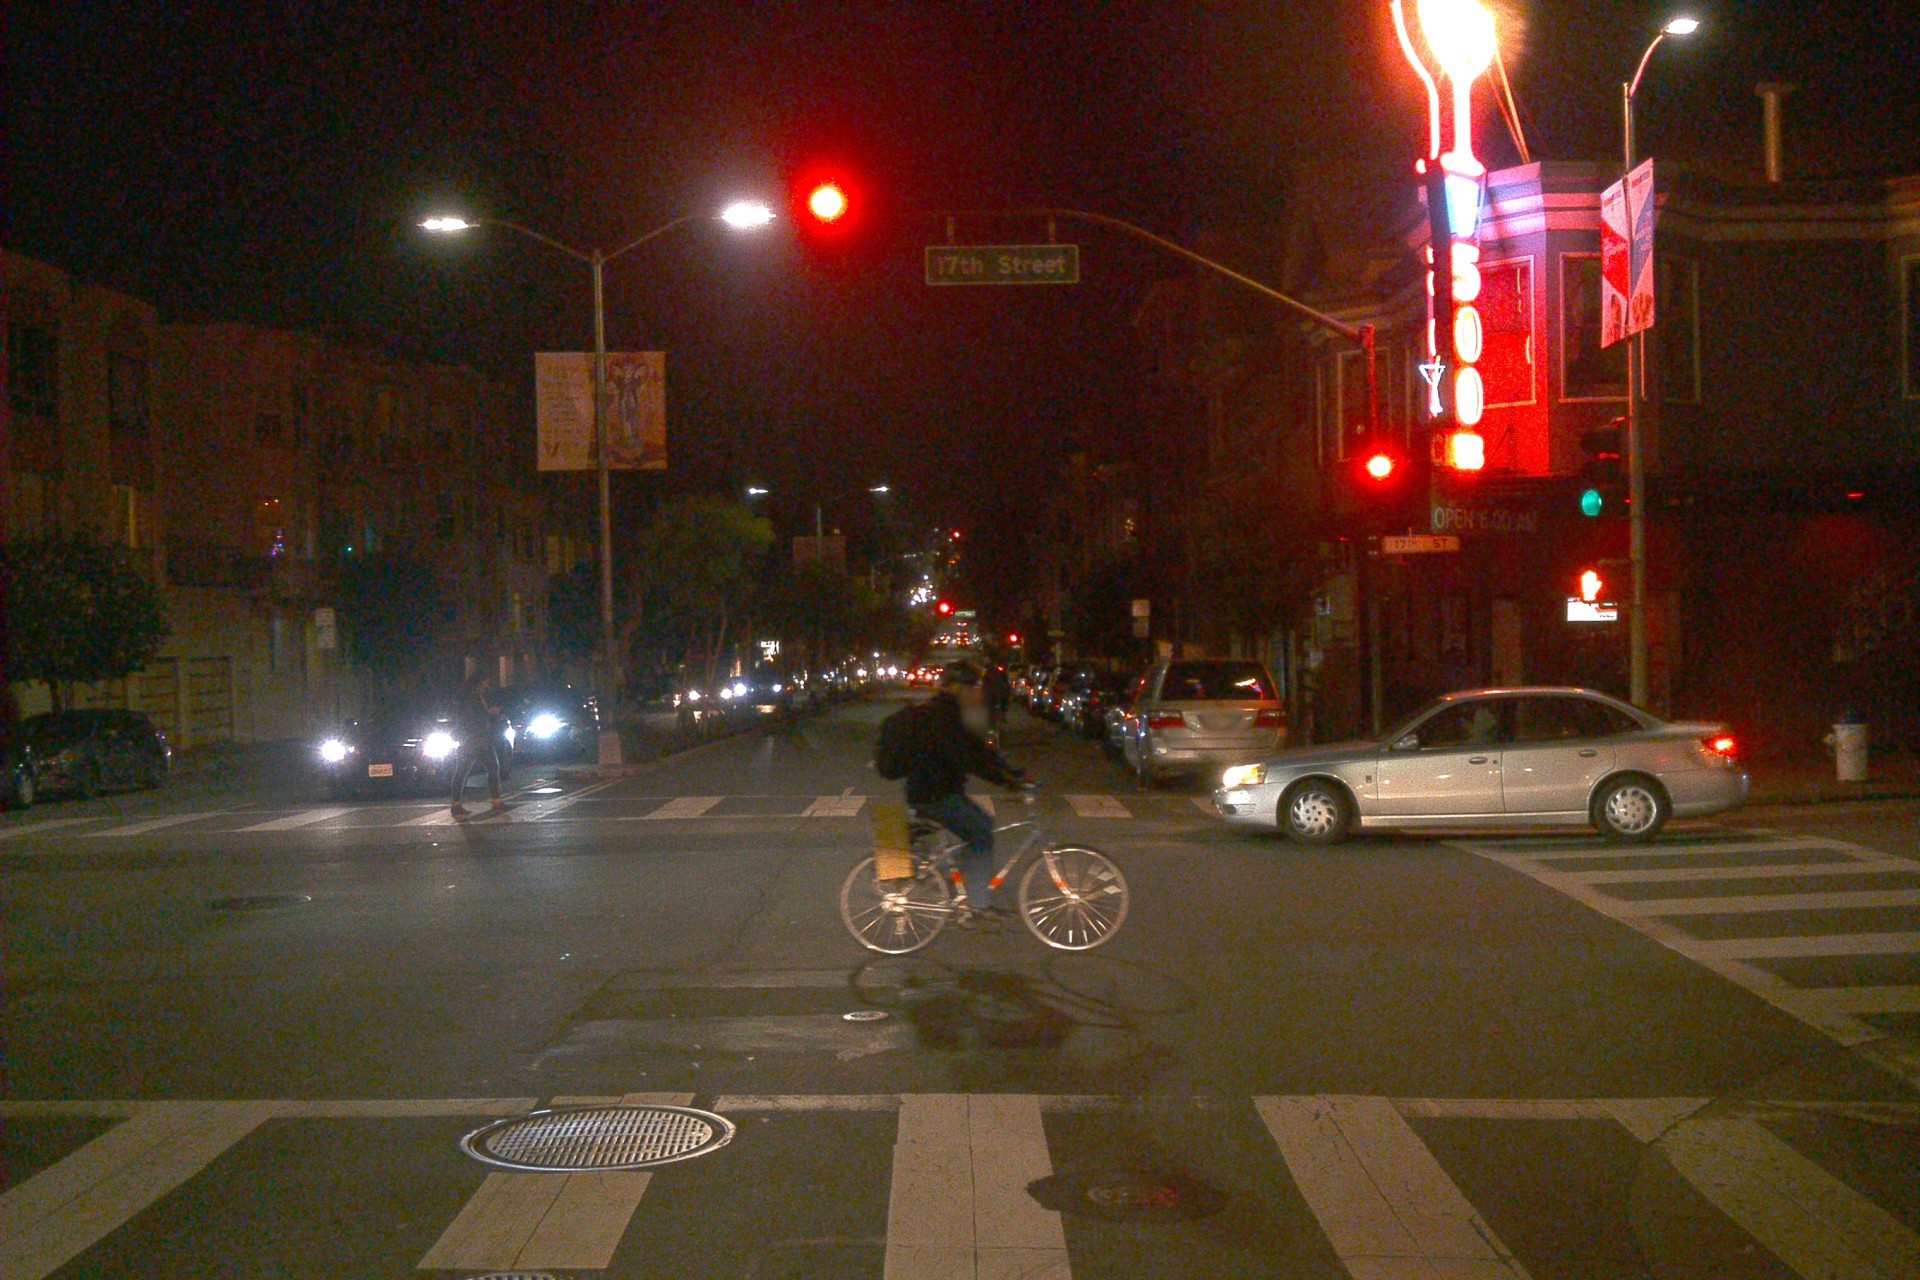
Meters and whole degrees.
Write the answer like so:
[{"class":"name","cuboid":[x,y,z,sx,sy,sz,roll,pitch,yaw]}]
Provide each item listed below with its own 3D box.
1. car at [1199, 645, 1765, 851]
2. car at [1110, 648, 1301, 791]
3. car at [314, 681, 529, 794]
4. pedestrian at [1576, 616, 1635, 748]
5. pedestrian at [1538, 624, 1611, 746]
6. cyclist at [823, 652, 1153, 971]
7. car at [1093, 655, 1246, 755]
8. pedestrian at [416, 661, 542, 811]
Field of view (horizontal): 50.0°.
[{"class":"car","cuboid":[4.745,0.929,19.163,4.826,1.720,2.135,1,0,11]},{"class":"car","cuboid":[3.288,1.019,28.469,2.087,1.770,4.655,1,0,0]},{"class":"car","cuboid":[-7.621,1.336,29.548,1.903,1.390,4.511,1,0,0]},{"class":"pedestrian","cuboid":[9.050,0.574,28.828,0.739,1.820,0.628,1,0,20]},{"class":"pedestrian","cuboid":[8.813,0.641,29.498,0.721,1.720,0.691,1,0,-18]},{"class":"cyclist","cuboid":[0.170,1.024,12.671,1.948,1.870,0.822,1,0,1]},{"class":"car","cuboid":[3.322,1.005,33.307,1.810,1.470,4.216,1,0,-3]},{"class":"pedestrian","cuboid":[-5.595,1.104,23.988,1.189,1.690,0.924,1,0,5]}]
